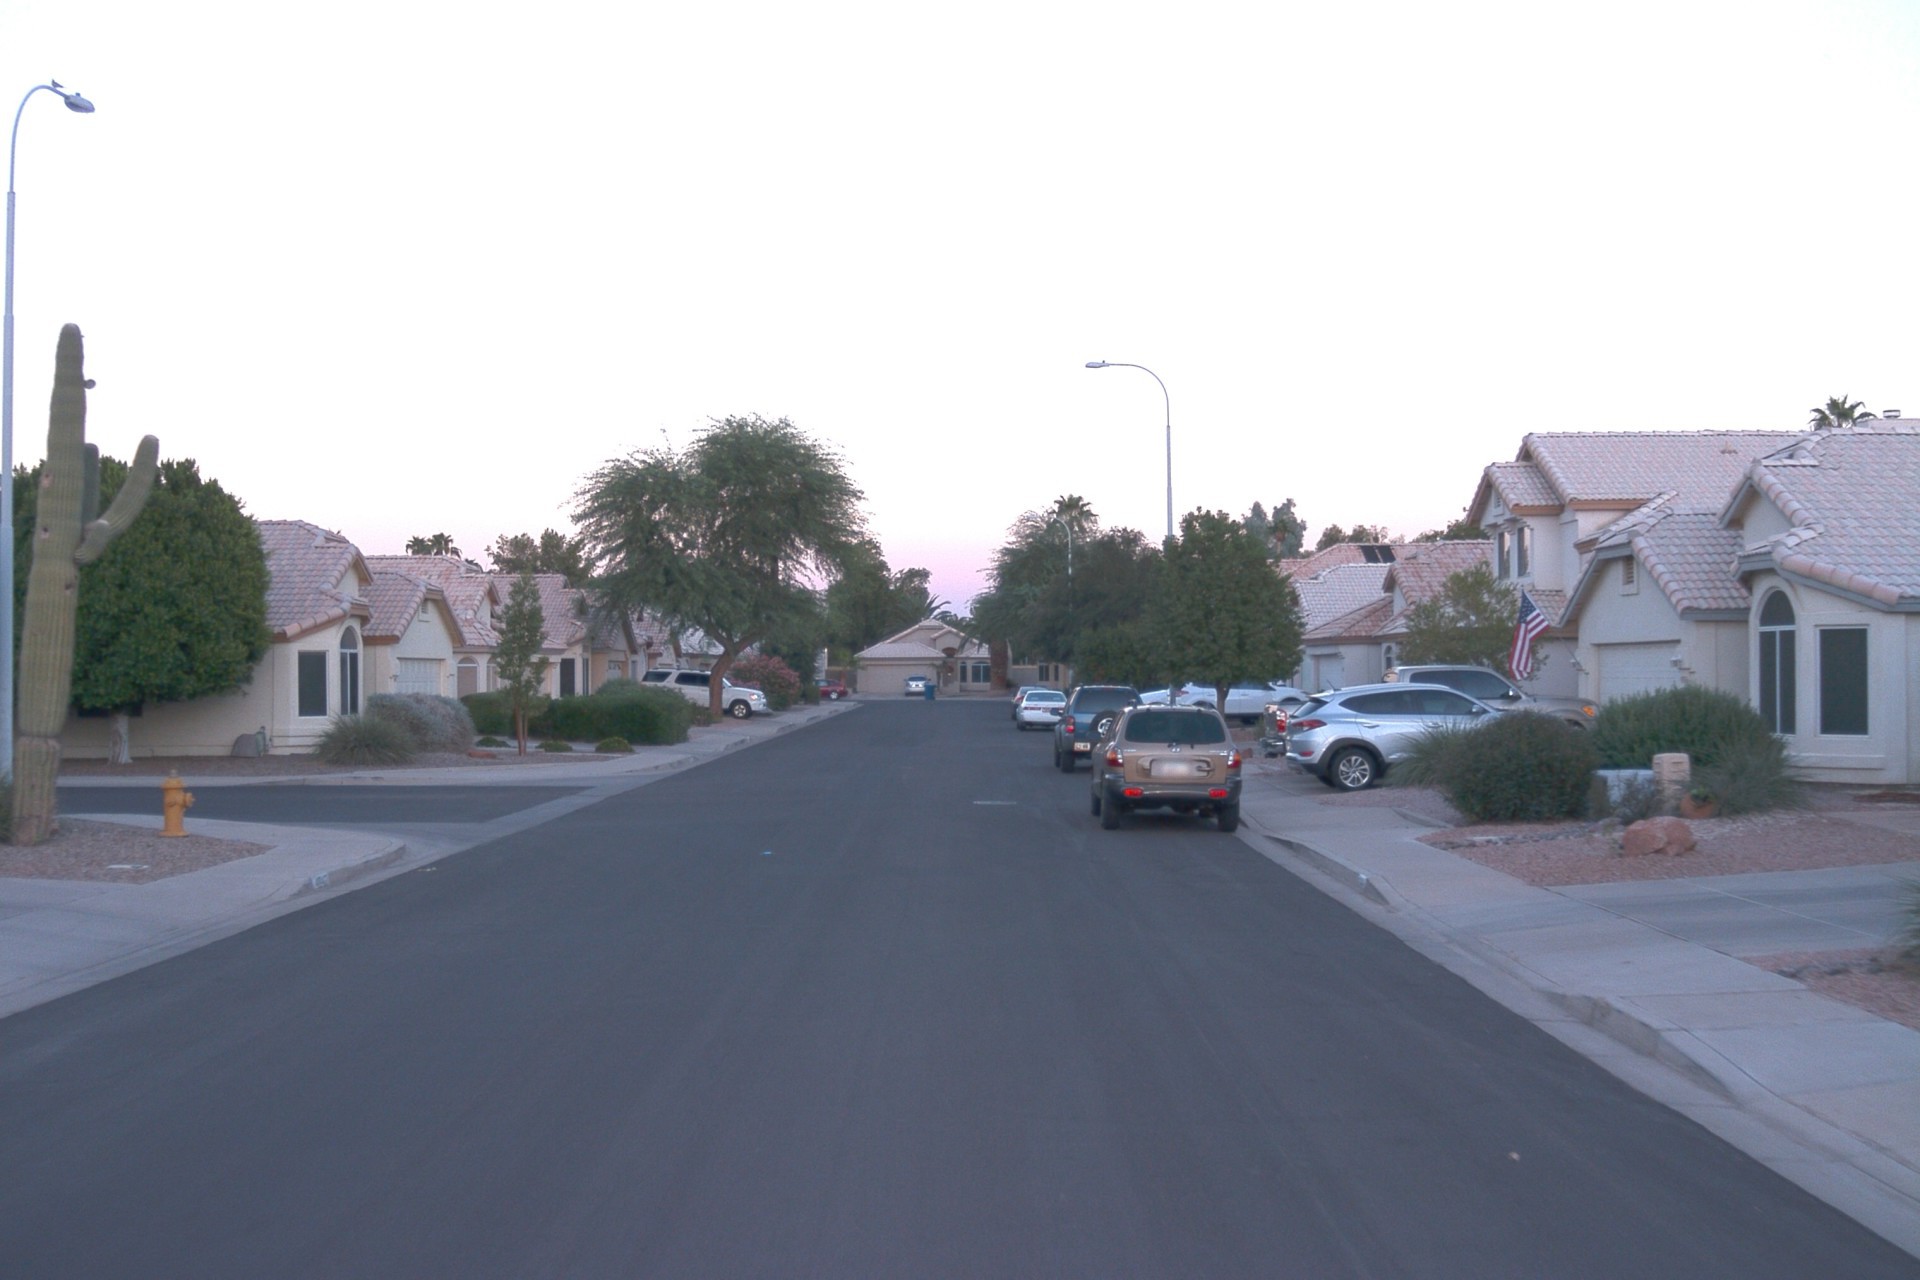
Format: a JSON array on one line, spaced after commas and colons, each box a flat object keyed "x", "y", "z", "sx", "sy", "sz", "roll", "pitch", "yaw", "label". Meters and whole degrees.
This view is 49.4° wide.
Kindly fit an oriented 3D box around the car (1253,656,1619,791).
[{"x": 8.126, "y": 1.402, "z": 36.123, "sx": 5.802, "sy": 2.210, "sz": 2.339, "roll": 0, "pitch": 0, "yaw": 1, "label": "car"}]

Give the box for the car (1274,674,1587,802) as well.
[{"x": 7.426, "y": 1.529, "z": 33.332, "sx": 4.502, "sy": 1.920, "sz": 2.158, "roll": 0, "pitch": -1, "yaw": 1, "label": "car"}]

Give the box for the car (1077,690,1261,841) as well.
[{"x": 2.792, "y": 1.649, "z": 28.961, "sx": 2.117, "sy": 1.840, "sz": 4.827, "roll": 0, "pitch": -1, "yaw": 1, "label": "car"}]
